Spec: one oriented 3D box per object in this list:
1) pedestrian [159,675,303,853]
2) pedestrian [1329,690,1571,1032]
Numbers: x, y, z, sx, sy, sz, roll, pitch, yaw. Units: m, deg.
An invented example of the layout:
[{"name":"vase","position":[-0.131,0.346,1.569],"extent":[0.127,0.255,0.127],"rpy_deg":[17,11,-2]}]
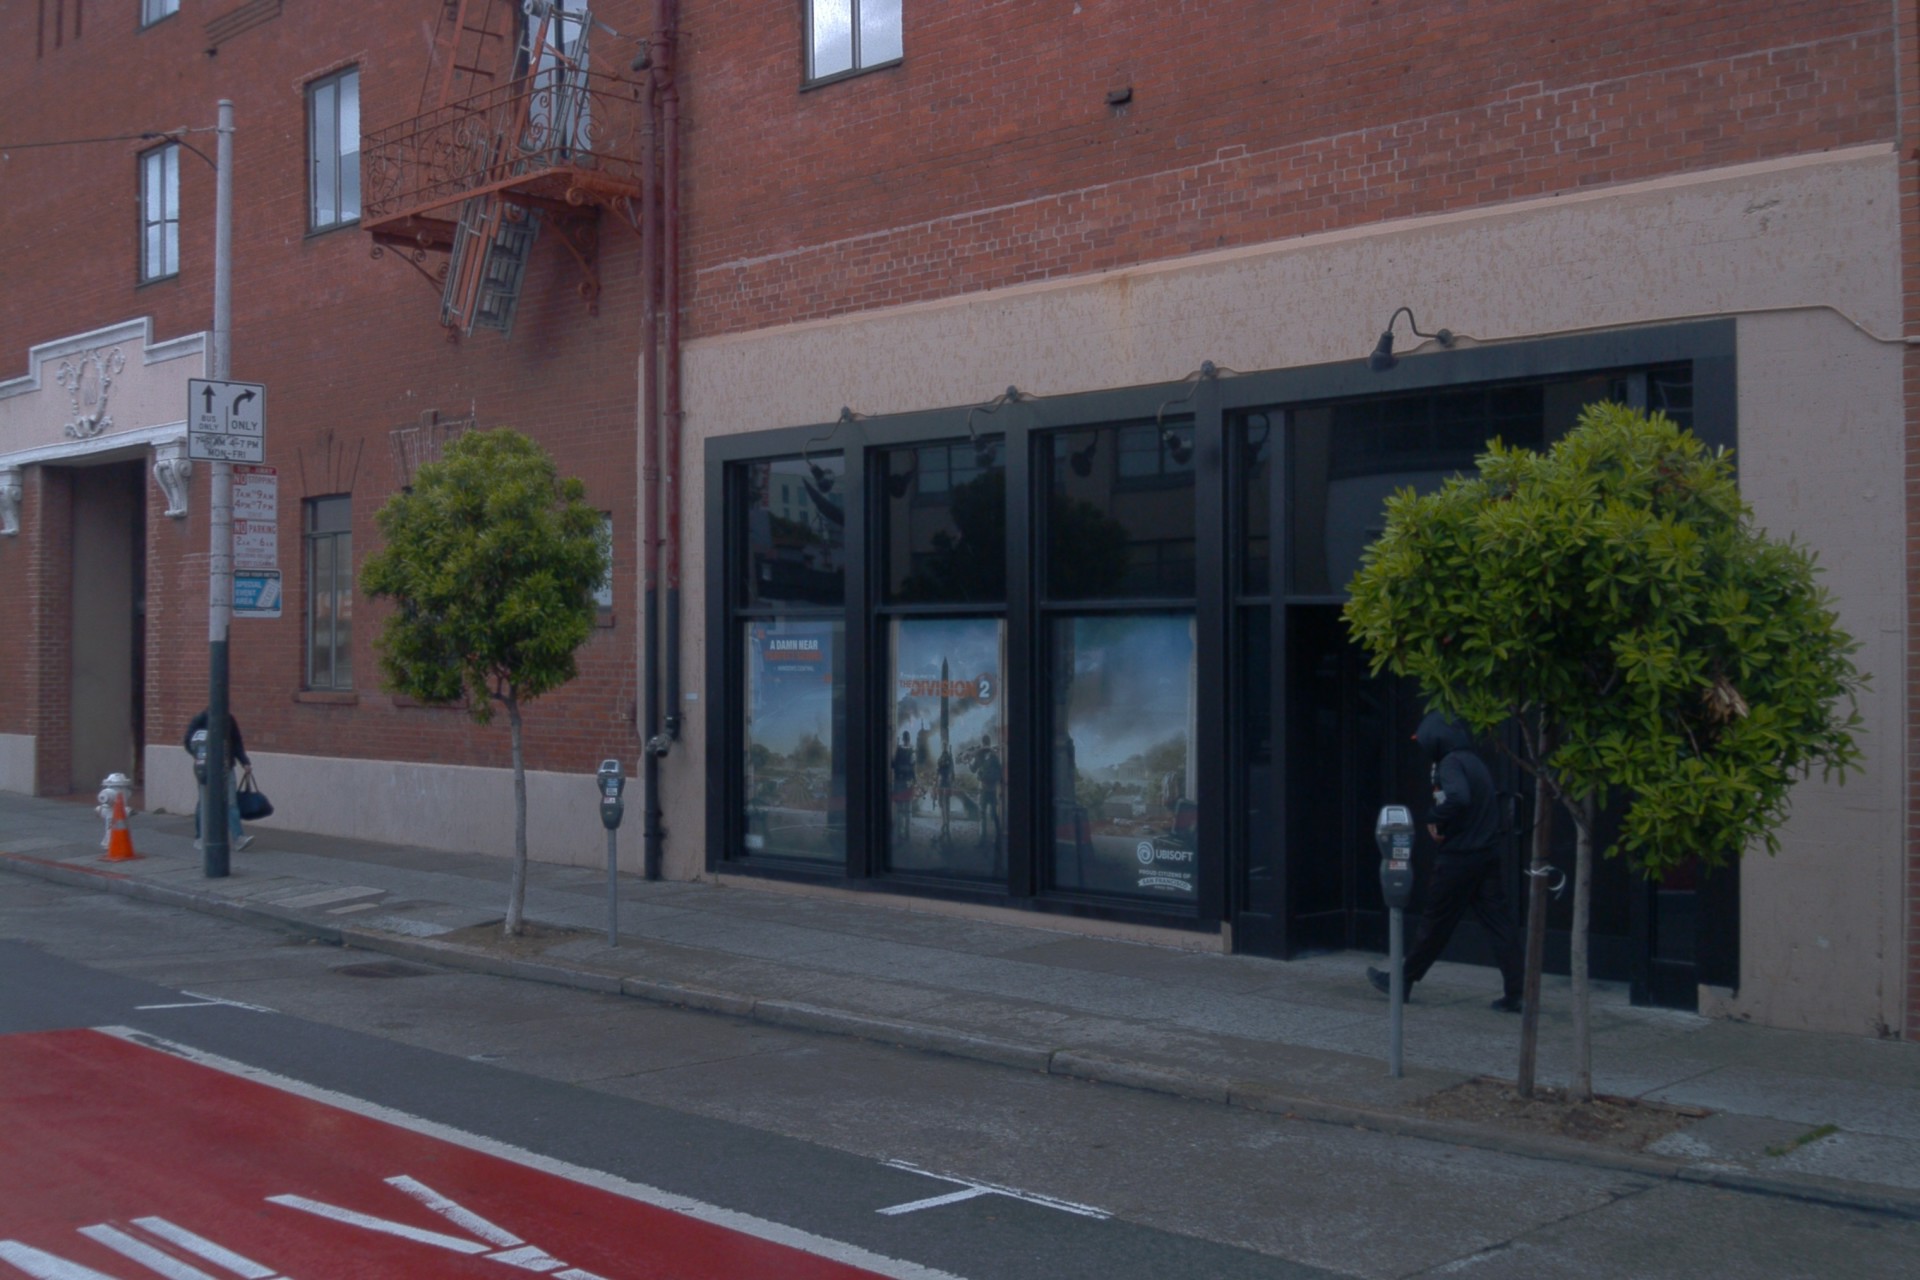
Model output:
[{"name":"pedestrian","position":[-7.425,1.231,21.073],"extent":[0.979,1.730,1.128],"rpy_deg":[1,-1,-44]},{"name":"pedestrian","position":[2.840,1.227,12.011],"extent":[1.126,1.848,0.798],"rpy_deg":[0,-1,40]}]
